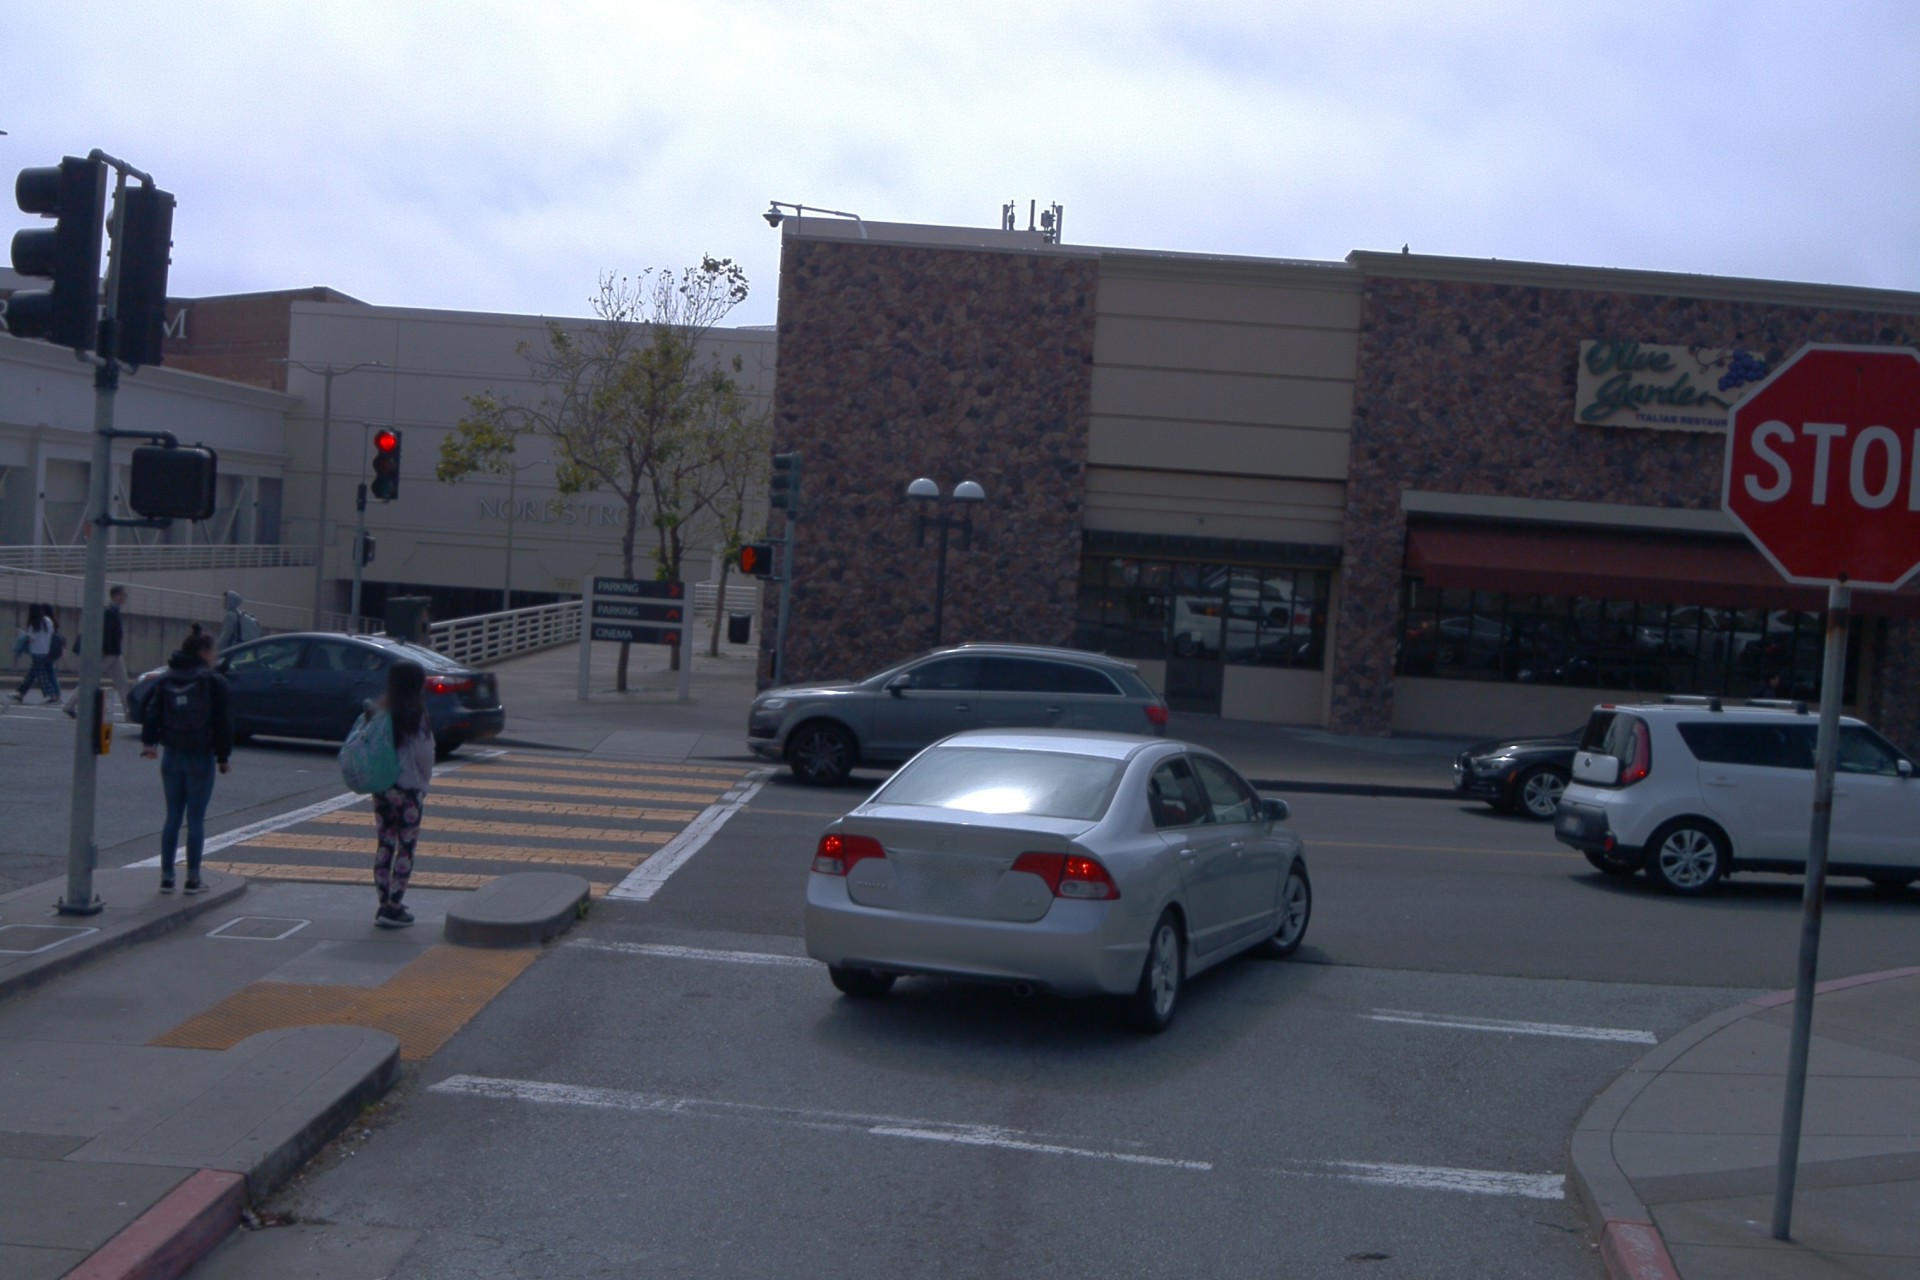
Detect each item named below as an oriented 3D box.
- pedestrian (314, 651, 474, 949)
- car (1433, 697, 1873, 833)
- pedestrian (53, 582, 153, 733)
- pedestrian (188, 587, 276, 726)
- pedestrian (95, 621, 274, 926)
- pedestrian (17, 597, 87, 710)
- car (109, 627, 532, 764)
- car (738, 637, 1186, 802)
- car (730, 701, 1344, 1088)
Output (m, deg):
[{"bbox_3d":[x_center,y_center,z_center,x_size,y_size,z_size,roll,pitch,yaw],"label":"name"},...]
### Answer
[{"bbox_3d":[-3.345,0.914,12.217,0.722,1.680,0.958,0,1,-3],"label":"pedestrian"},{"bbox_3d":[8.182,1.465,24.622,4.562,1.470,2.087,0,1,1],"label":"car"},{"bbox_3d":[-11.348,0.221,27.247,0.975,1.960,0.861,0,1,-2],"label":"pedestrian"},{"bbox_3d":[-10.476,0.230,29.590,1.041,1.960,0.716,0,1,-5],"label":"pedestrian"},{"bbox_3d":[-4.674,0.770,12.456,0.844,1.760,0.939,0,1,-10],"label":"pedestrian"},{"bbox_3d":[-13.613,0.199,30.825,0.807,1.680,0.507,0,1,4],"label":"pedestrian"},{"bbox_3d":[-7.575,0.622,24.535,4.383,1.520,2.059,0,1,11],"label":"car"},{"bbox_3d":[0.010,0.898,24.335,5.062,1.820,2.207,0,1,0],"label":"car"},{"bbox_3d":[0.671,1.200,11.514,2.054,1.520,4.325,0,1,23],"label":"car"}]
